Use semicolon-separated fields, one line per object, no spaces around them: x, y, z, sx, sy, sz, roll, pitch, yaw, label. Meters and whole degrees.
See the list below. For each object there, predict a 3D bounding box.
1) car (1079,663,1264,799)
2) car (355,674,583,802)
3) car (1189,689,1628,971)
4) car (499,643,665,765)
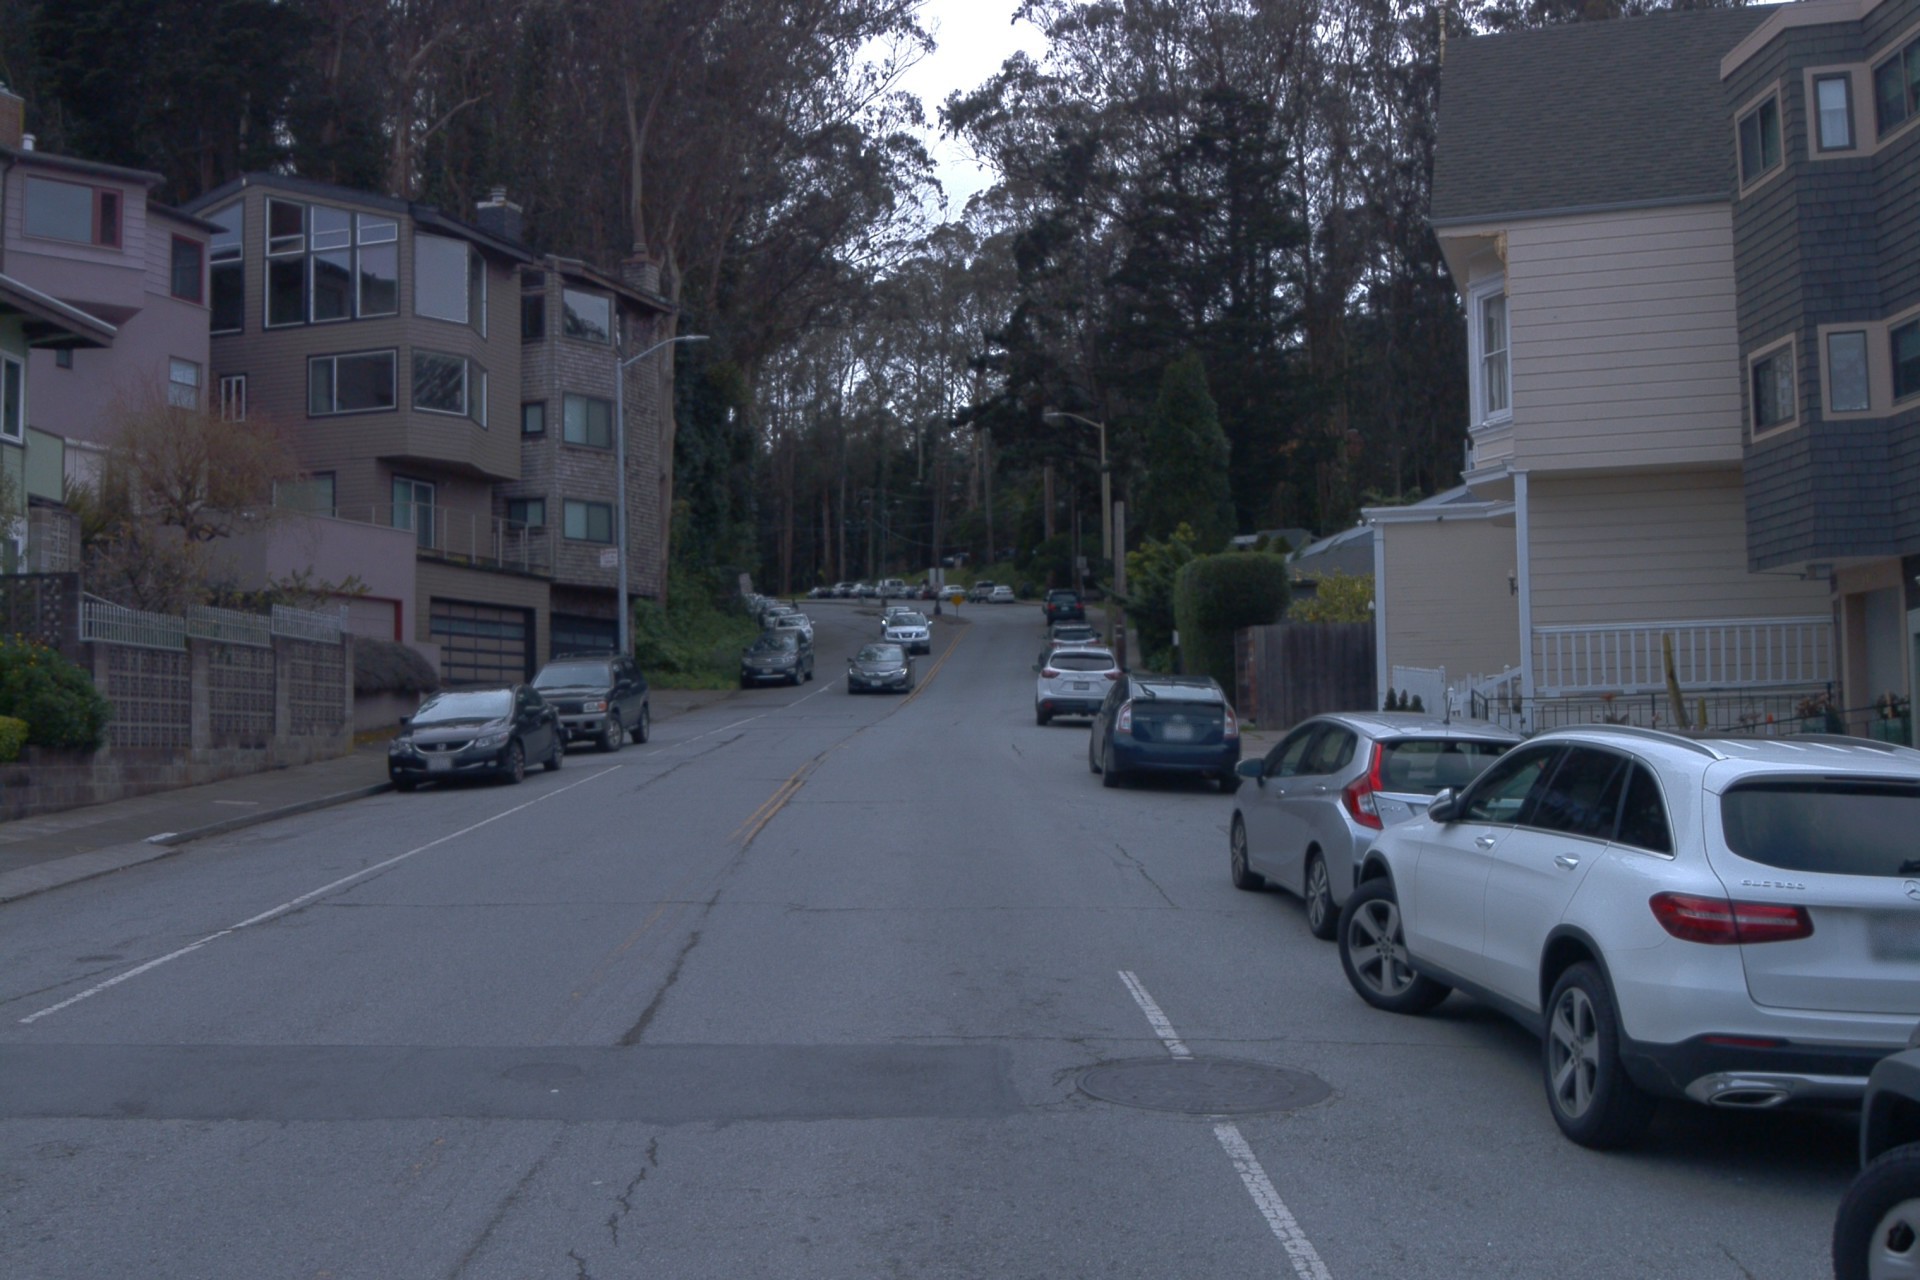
2.765;1.158;27.871;2.027;1.580;4.537;0;1;0;car
-7.005;1.354;29.863;2.205;1.570;4.632;0;1;0;car
3.110;1.259;15.253;2.037;1.630;4.248;0;1;-4;car
-6.789;1.104;37.402;2.049;2.010;4.526;0;1;2;car
